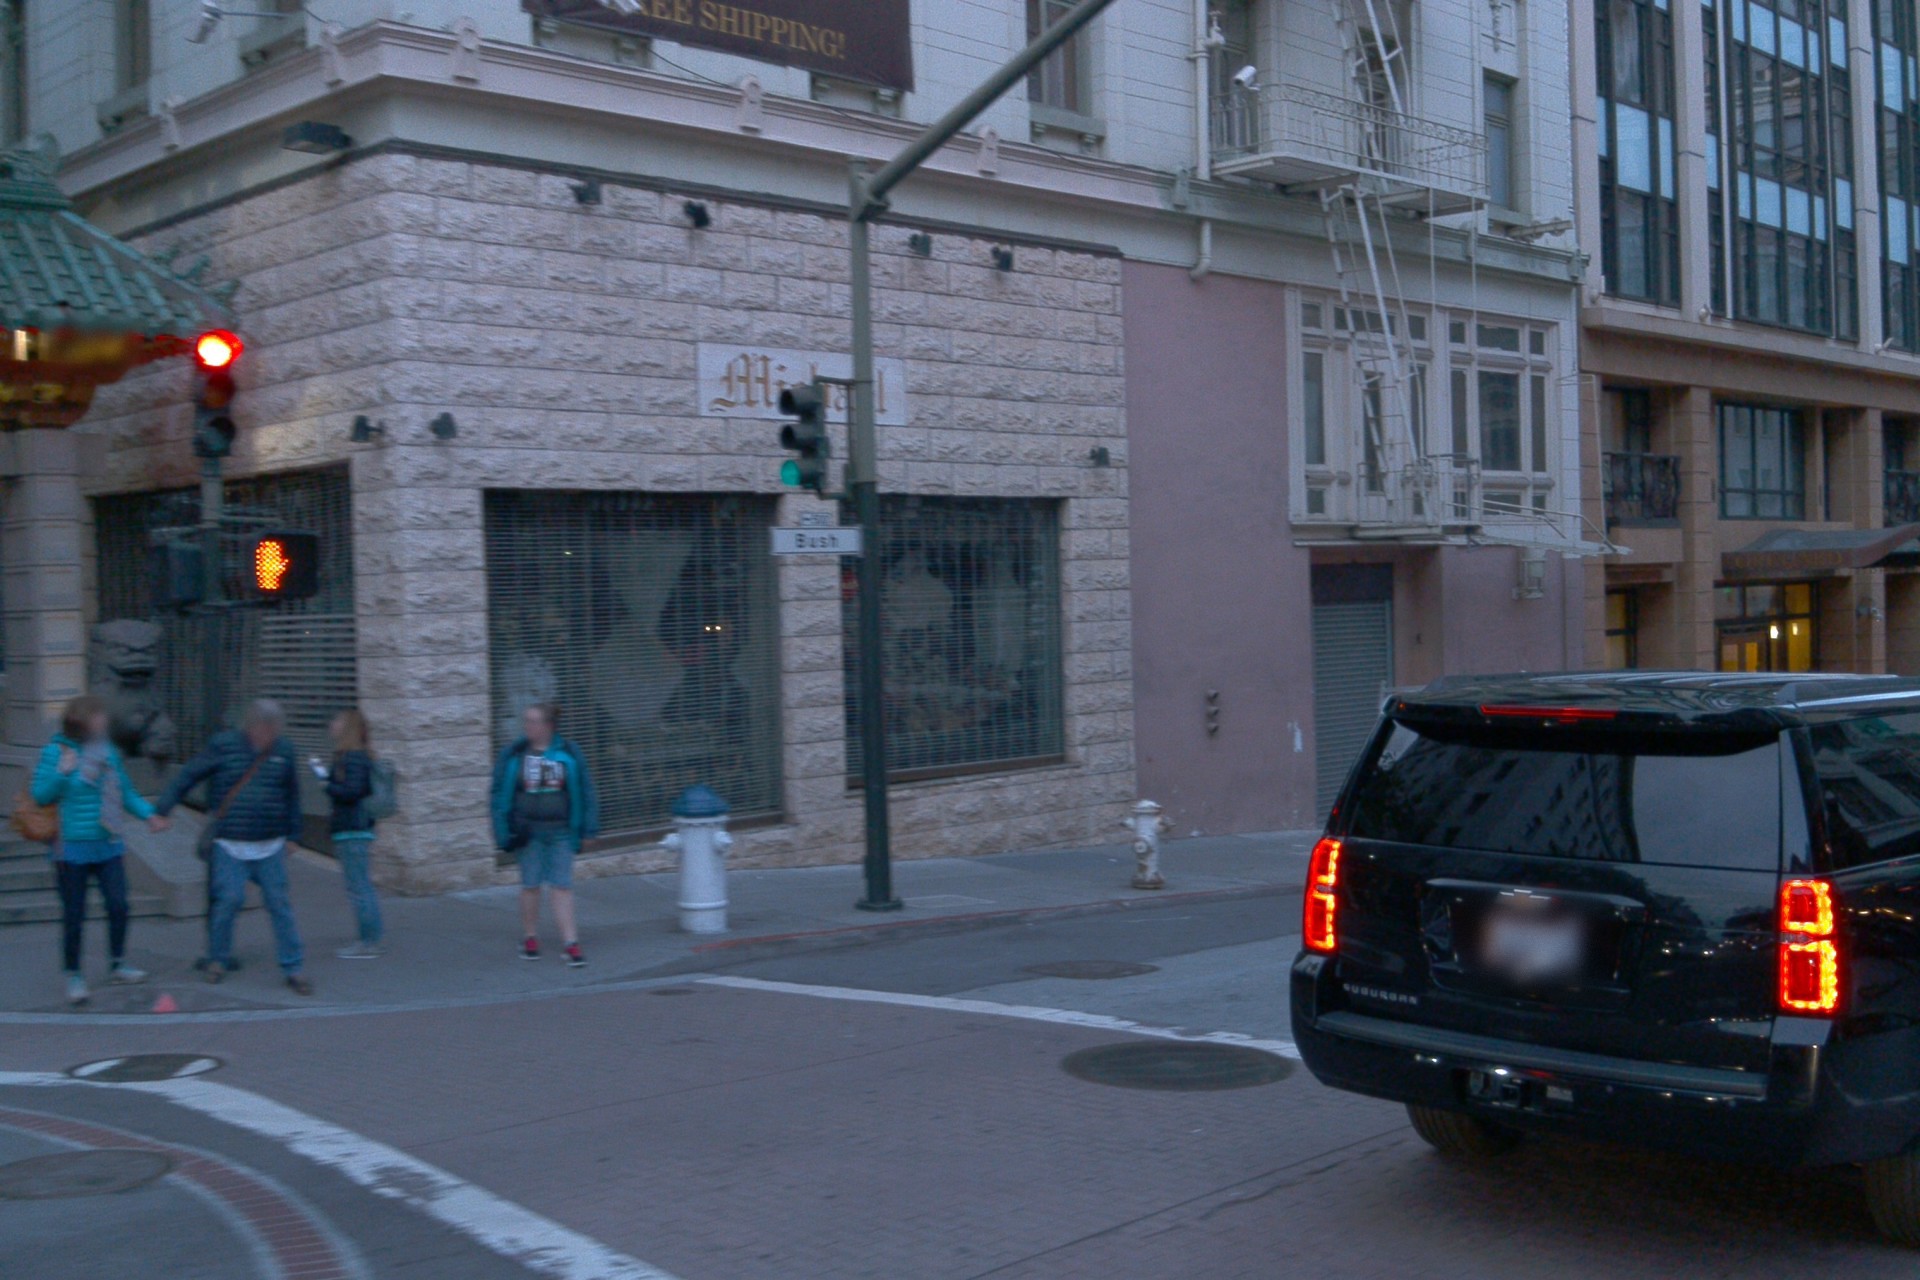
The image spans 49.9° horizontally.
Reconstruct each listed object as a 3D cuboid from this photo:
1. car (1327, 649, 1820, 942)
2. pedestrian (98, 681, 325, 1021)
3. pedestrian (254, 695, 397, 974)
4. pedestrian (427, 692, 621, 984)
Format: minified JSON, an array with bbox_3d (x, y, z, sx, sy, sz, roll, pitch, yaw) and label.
[{"bbox_3d":[5.964,1.280,19.593,2.282,2.294,5.448,1,1,43],"label":"car"},{"bbox_3d":[-4.358,1.168,12.002,0.964,1.820,1.000,-1,1,-38],"label":"pedestrian"},{"bbox_3d":[-3.981,1.195,13.005,0.821,1.660,0.751,0,1,-15],"label":"pedestrian"},{"bbox_3d":[-2.771,1.209,13.074,0.976,1.710,0.985,-1,1,-27],"label":"pedestrian"}]
